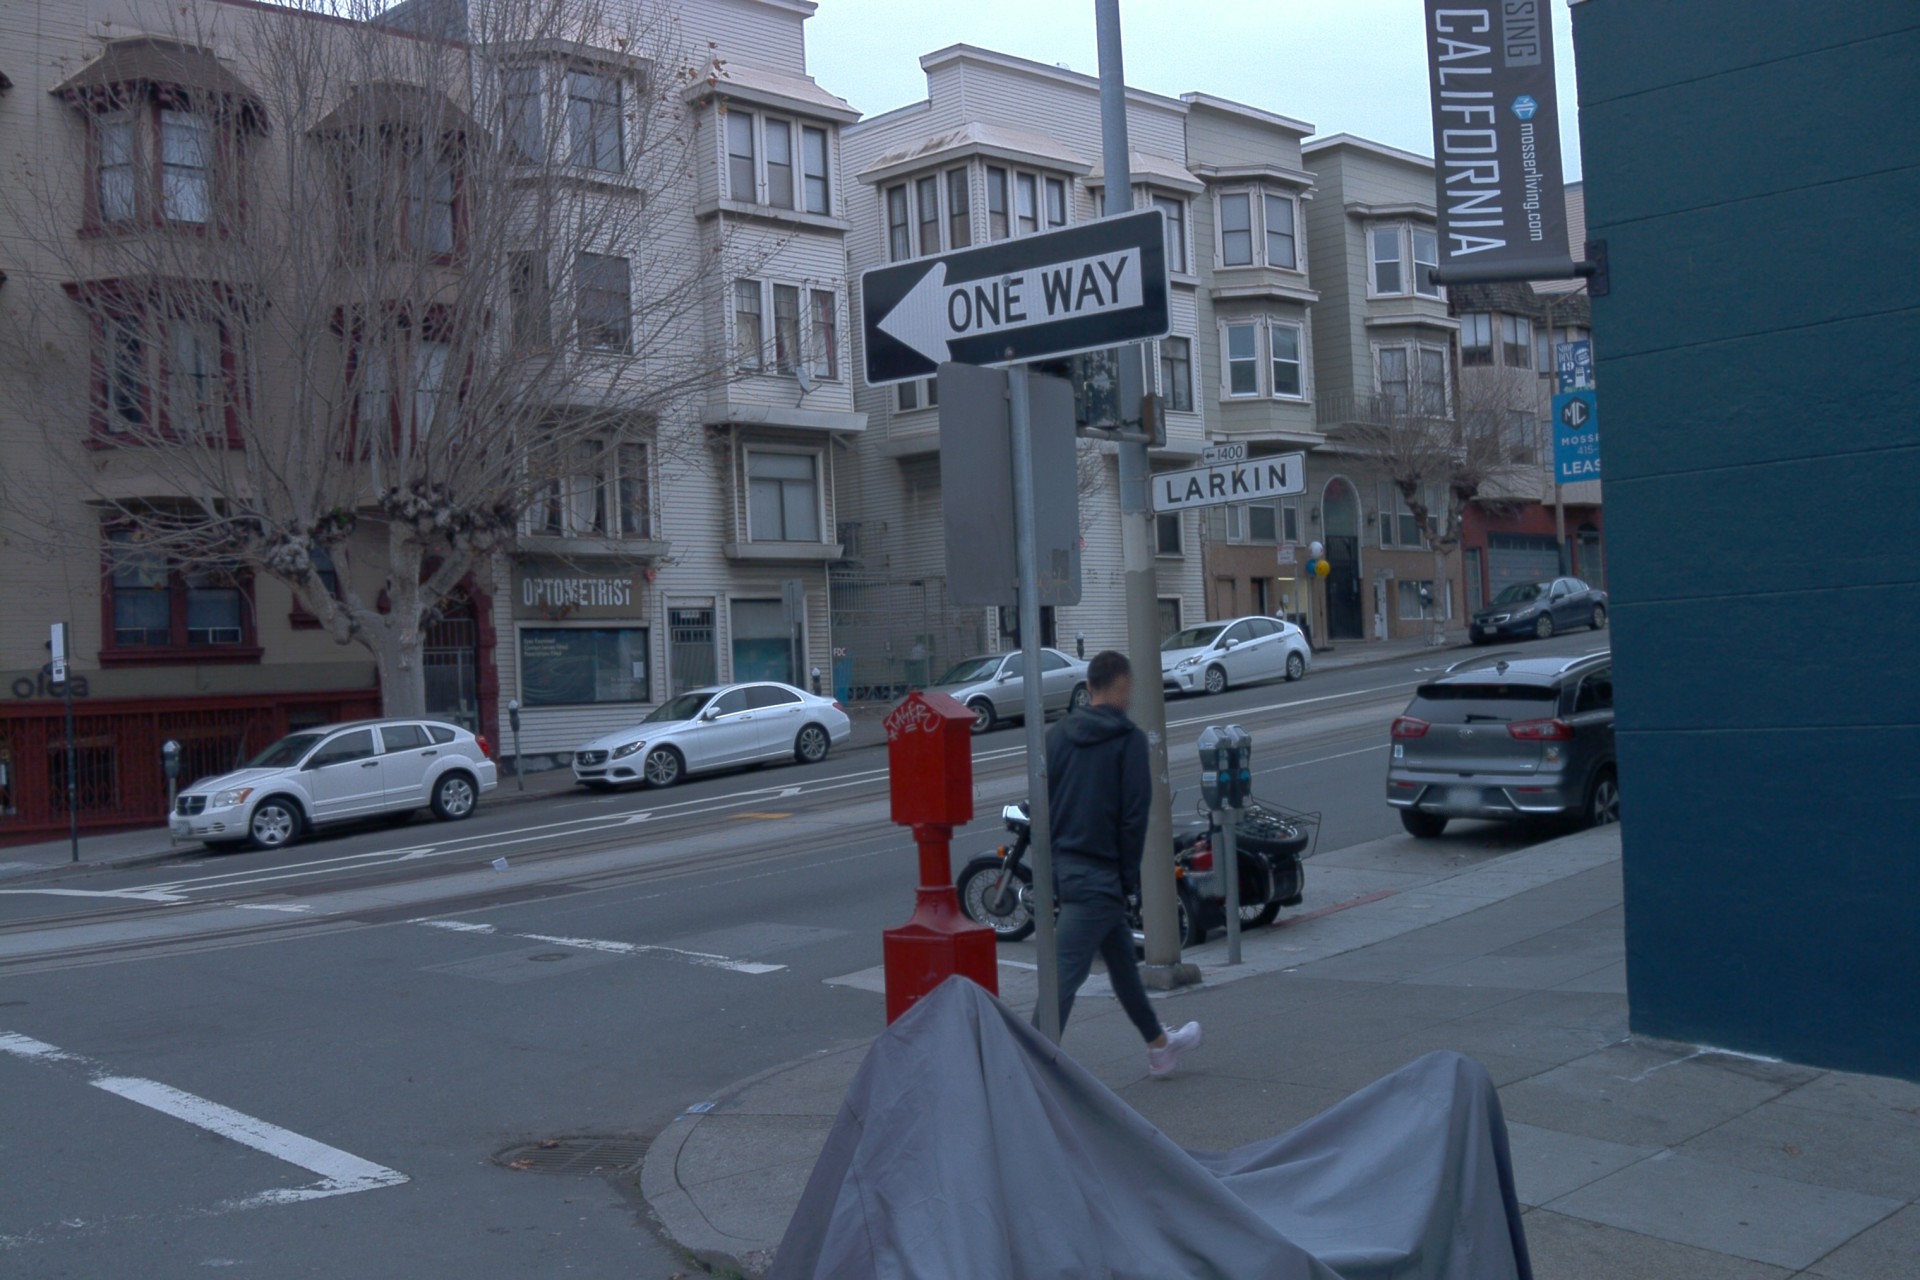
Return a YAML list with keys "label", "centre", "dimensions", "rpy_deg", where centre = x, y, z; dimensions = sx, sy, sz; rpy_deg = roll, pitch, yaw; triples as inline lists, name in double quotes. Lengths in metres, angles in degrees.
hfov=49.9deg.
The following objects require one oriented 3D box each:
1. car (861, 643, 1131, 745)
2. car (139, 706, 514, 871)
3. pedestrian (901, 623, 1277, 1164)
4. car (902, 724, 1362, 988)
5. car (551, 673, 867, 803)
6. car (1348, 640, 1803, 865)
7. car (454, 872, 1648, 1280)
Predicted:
- label: "car"
  centre: [0.712, 0.916, 37.121]
  dimensions: [4.801, 1.657, 2.084]
  rpy_deg: [-1, 1, -45]
- label: "car"
  centre: [-8.482, 1.914, 27.920]
  dimensions: [2.053, 1.847, 4.407]
  rpy_deg: [1, 1, 44]
- label: "pedestrian"
  centre: [0.563, 0.965, 8.690]
  dimensions: [1.450, 2.066, 0.822]
  rpy_deg: [-1, 1, -45]
- label: "car"
  centre: [1.133, 1.377, 14.055]
  dimensions: [2.745, 1.460, 1.540]
  rpy_deg: [0, 1, 42]
- label: "car"
  centre: [-3.872, 1.462, 32.361]
  dimensions: [4.589, 1.757, 2.074]
  rpy_deg: [-1, 1, -44]
- label: "car"
  centre: [5.645, 0.882, 18.584]
  dimensions: [2.132, 1.717, 4.606]
  rpy_deg: [0, 1, 42]
- label: "car"
  centre: [0.332, 1.392, 4.286]
  dimensions: [2.490, 1.520, 1.048]
  rpy_deg: [-1, 1, -44]
